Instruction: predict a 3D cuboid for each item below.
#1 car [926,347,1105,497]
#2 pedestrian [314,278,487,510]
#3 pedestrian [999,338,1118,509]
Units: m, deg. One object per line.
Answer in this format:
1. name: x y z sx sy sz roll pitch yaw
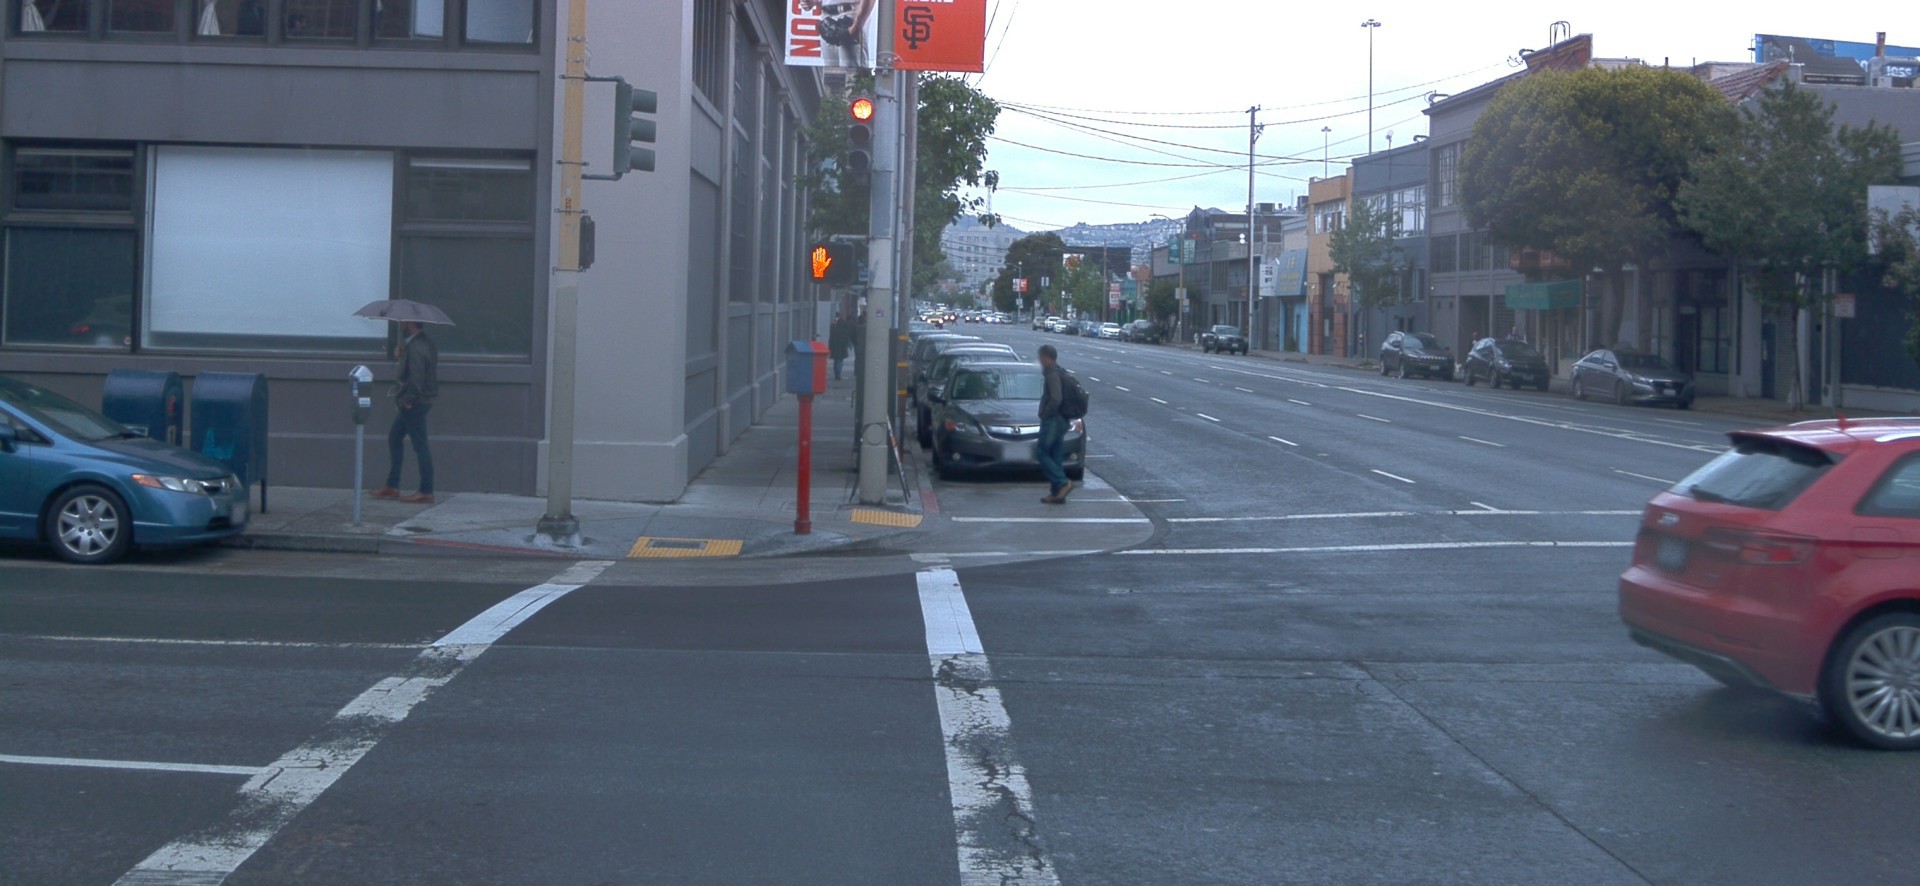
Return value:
1. car: 0.606 -0.343 26.065 2.020 1.454 4.437 0 5 -1
2. pedestrian: -5.225 -0.494 19.462 1.284 2.082 1.185 0 1 1
3. pedestrian: 1.050 -0.232 21.922 1.014 1.679 1.004 1 2 18
